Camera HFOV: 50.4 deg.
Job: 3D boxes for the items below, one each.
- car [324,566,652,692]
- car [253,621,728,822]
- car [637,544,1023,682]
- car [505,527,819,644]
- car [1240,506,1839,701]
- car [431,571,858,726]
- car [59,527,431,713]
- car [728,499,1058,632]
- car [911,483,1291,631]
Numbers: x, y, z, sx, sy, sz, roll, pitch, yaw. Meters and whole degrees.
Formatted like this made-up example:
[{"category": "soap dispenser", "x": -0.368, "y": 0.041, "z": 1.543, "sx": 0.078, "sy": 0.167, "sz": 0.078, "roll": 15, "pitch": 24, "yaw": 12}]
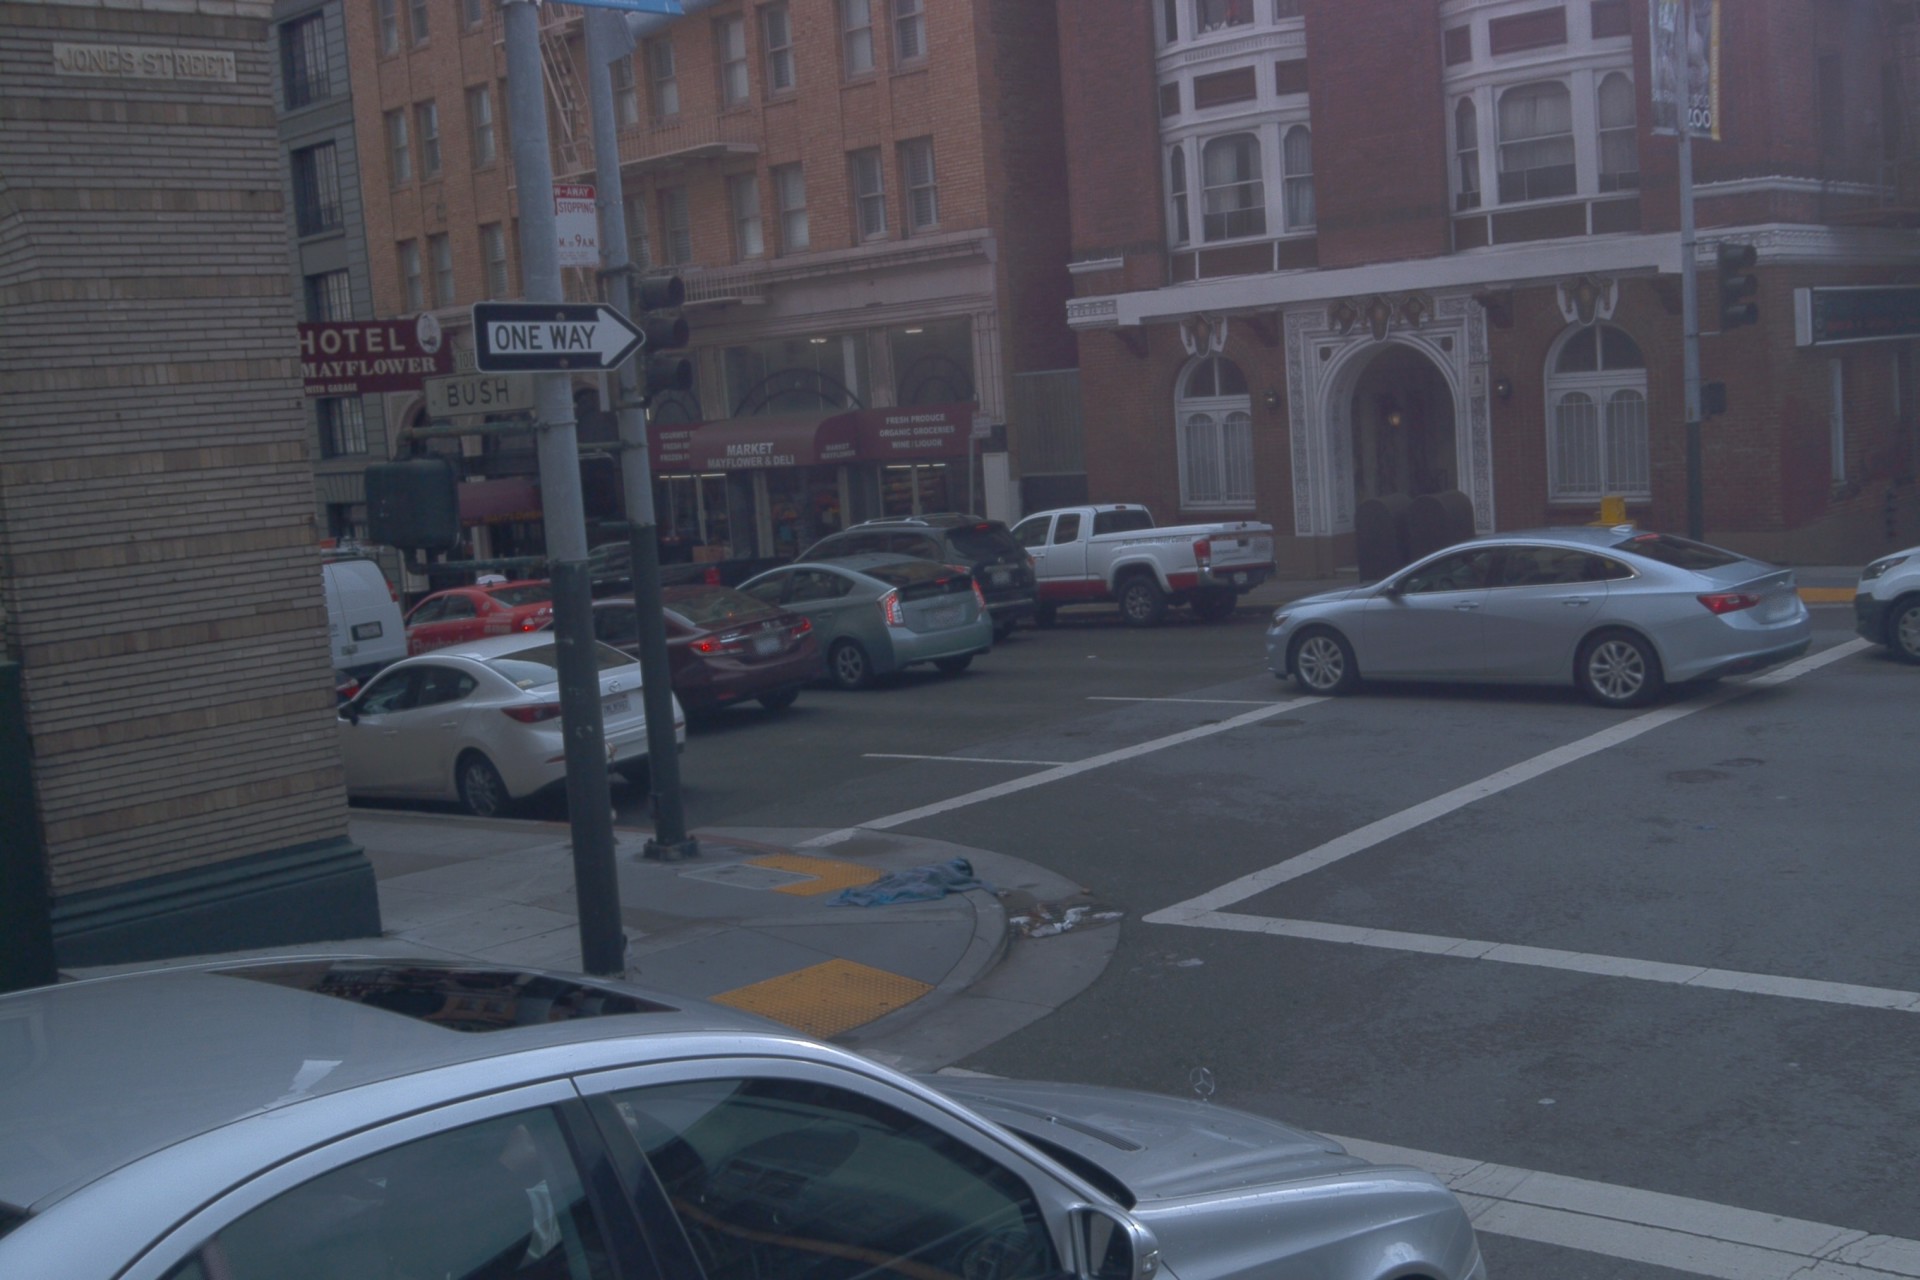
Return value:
[{"category": "car", "x": -6.964, "y": -0.207, "z": 29.805, "sx": 4.902, "sy": 1.680, "sz": 2.362, "roll": 2, "pitch": 1, "yaw": 44}, {"category": "car", "x": -4.252, "y": 0.618, "z": 18.113, "sx": 4.290, "sy": 1.490, "sz": 2.048, "roll": 2, "pitch": 1, "yaw": 43}, {"category": "car", "x": -1.621, "y": -0.346, "z": 24.114, "sx": 4.500, "sy": 1.470, "sz": 2.058, "roll": 2, "pitch": 1, "yaw": 45}, {"category": "car", "x": -5.478, "y": -0.983, "z": 36.904, "sx": 5.917, "sy": 1.960, "sz": 2.408, "roll": 2, "pitch": 1, "yaw": 43}, {"category": "car", "x": 4.985, "y": -0.342, "z": 18.042, "sx": 4.727, "sy": 1.500, "sz": 1.880, "roll": 2, "pitch": 1, "yaw": 43}, {"category": "car", "x": -3.479, "y": 0.029, "z": 21.987, "sx": 4.617, "sy": 1.480, "sz": 2.037, "roll": 2, "pitch": 1, "yaw": 41}, {"category": "car", "x": -10.104, "y": -0.321, "z": 28.562, "sx": 5.594, "sy": 2.338, "sz": 2.582, "roll": 2, "pitch": 1, "yaw": 43}, {"category": "car", "x": -1.009, "y": -1.017, "z": 28.457, "sx": 4.624, "sy": 1.700, "sz": 1.865, "roll": 2, "pitch": 1, "yaw": 44}, {"category": "car", "x": 1.939, "y": -1.162, "z": 29.486, "sx": 5.308, "sy": 1.950, "sz": 2.112, "roll": 2, "pitch": 1, "yaw": 43}]
